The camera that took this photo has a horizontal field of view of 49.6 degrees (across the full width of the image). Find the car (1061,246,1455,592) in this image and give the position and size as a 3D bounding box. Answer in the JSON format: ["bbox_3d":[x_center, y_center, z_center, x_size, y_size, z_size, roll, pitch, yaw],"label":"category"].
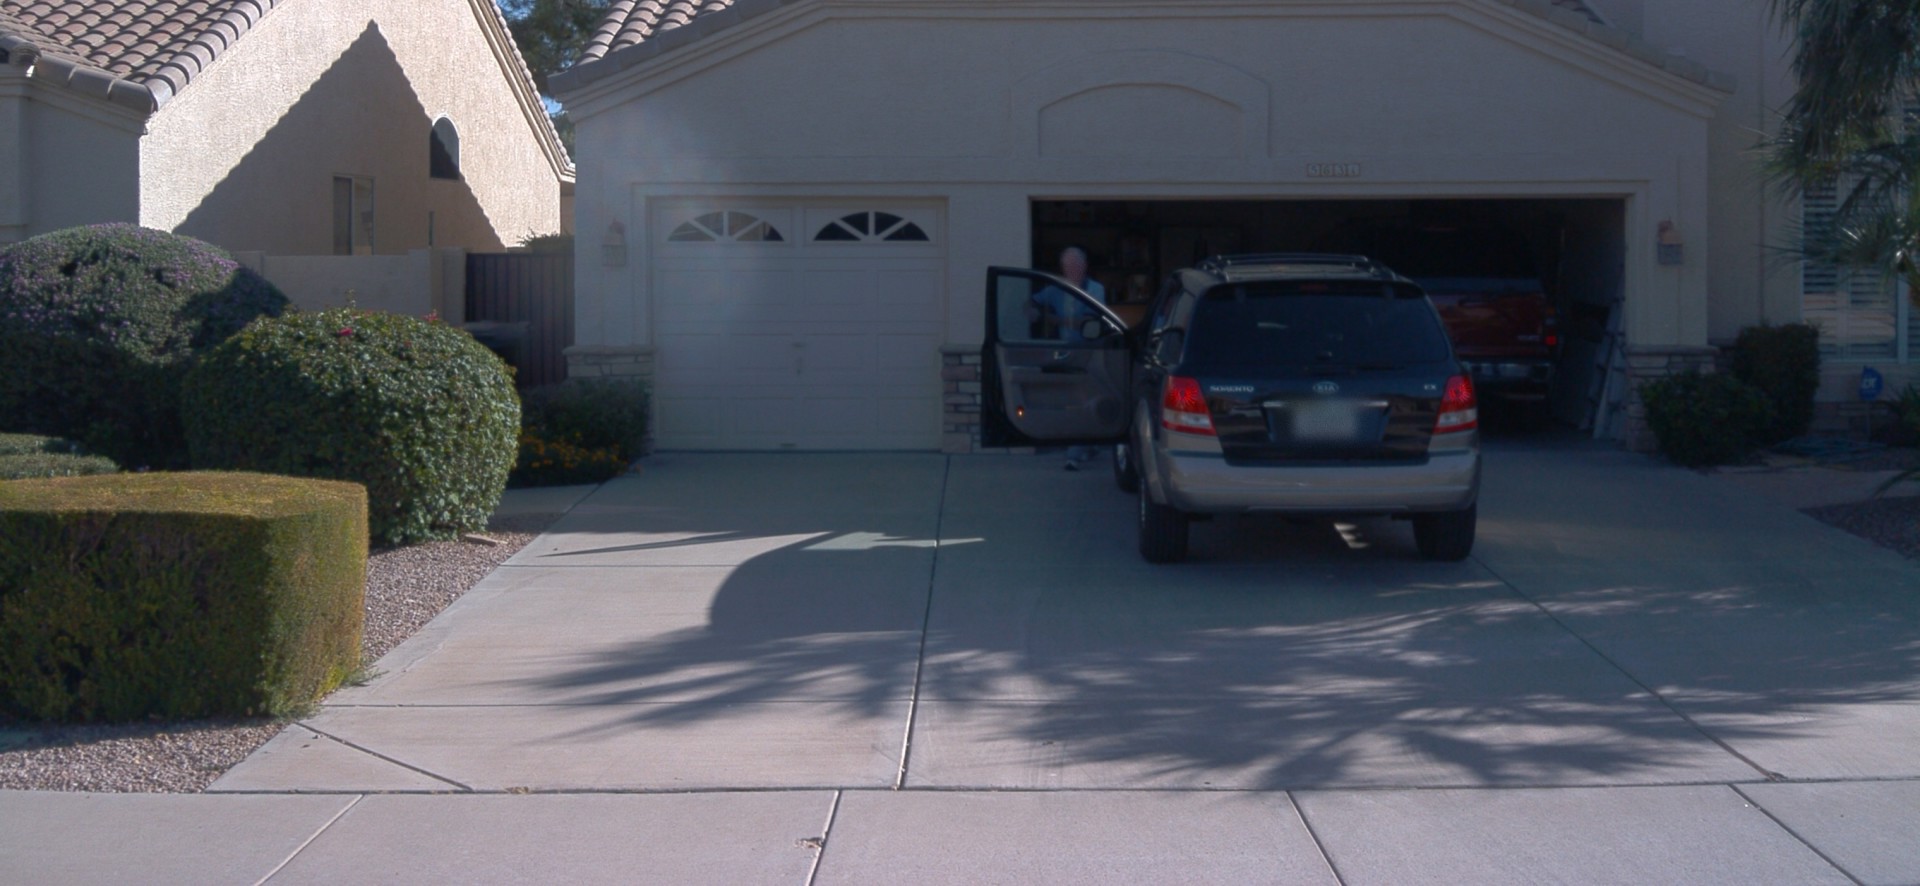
[{"bbox_3d":[1.712,-0.351,13.479,2.073,1.792,4.651,0,5,2],"label":"car"}]

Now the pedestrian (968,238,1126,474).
[{"bbox_3d":[0.696,-0.720,16.300,0.996,1.768,1.007,1,2,18],"label":"pedestrian"}]
